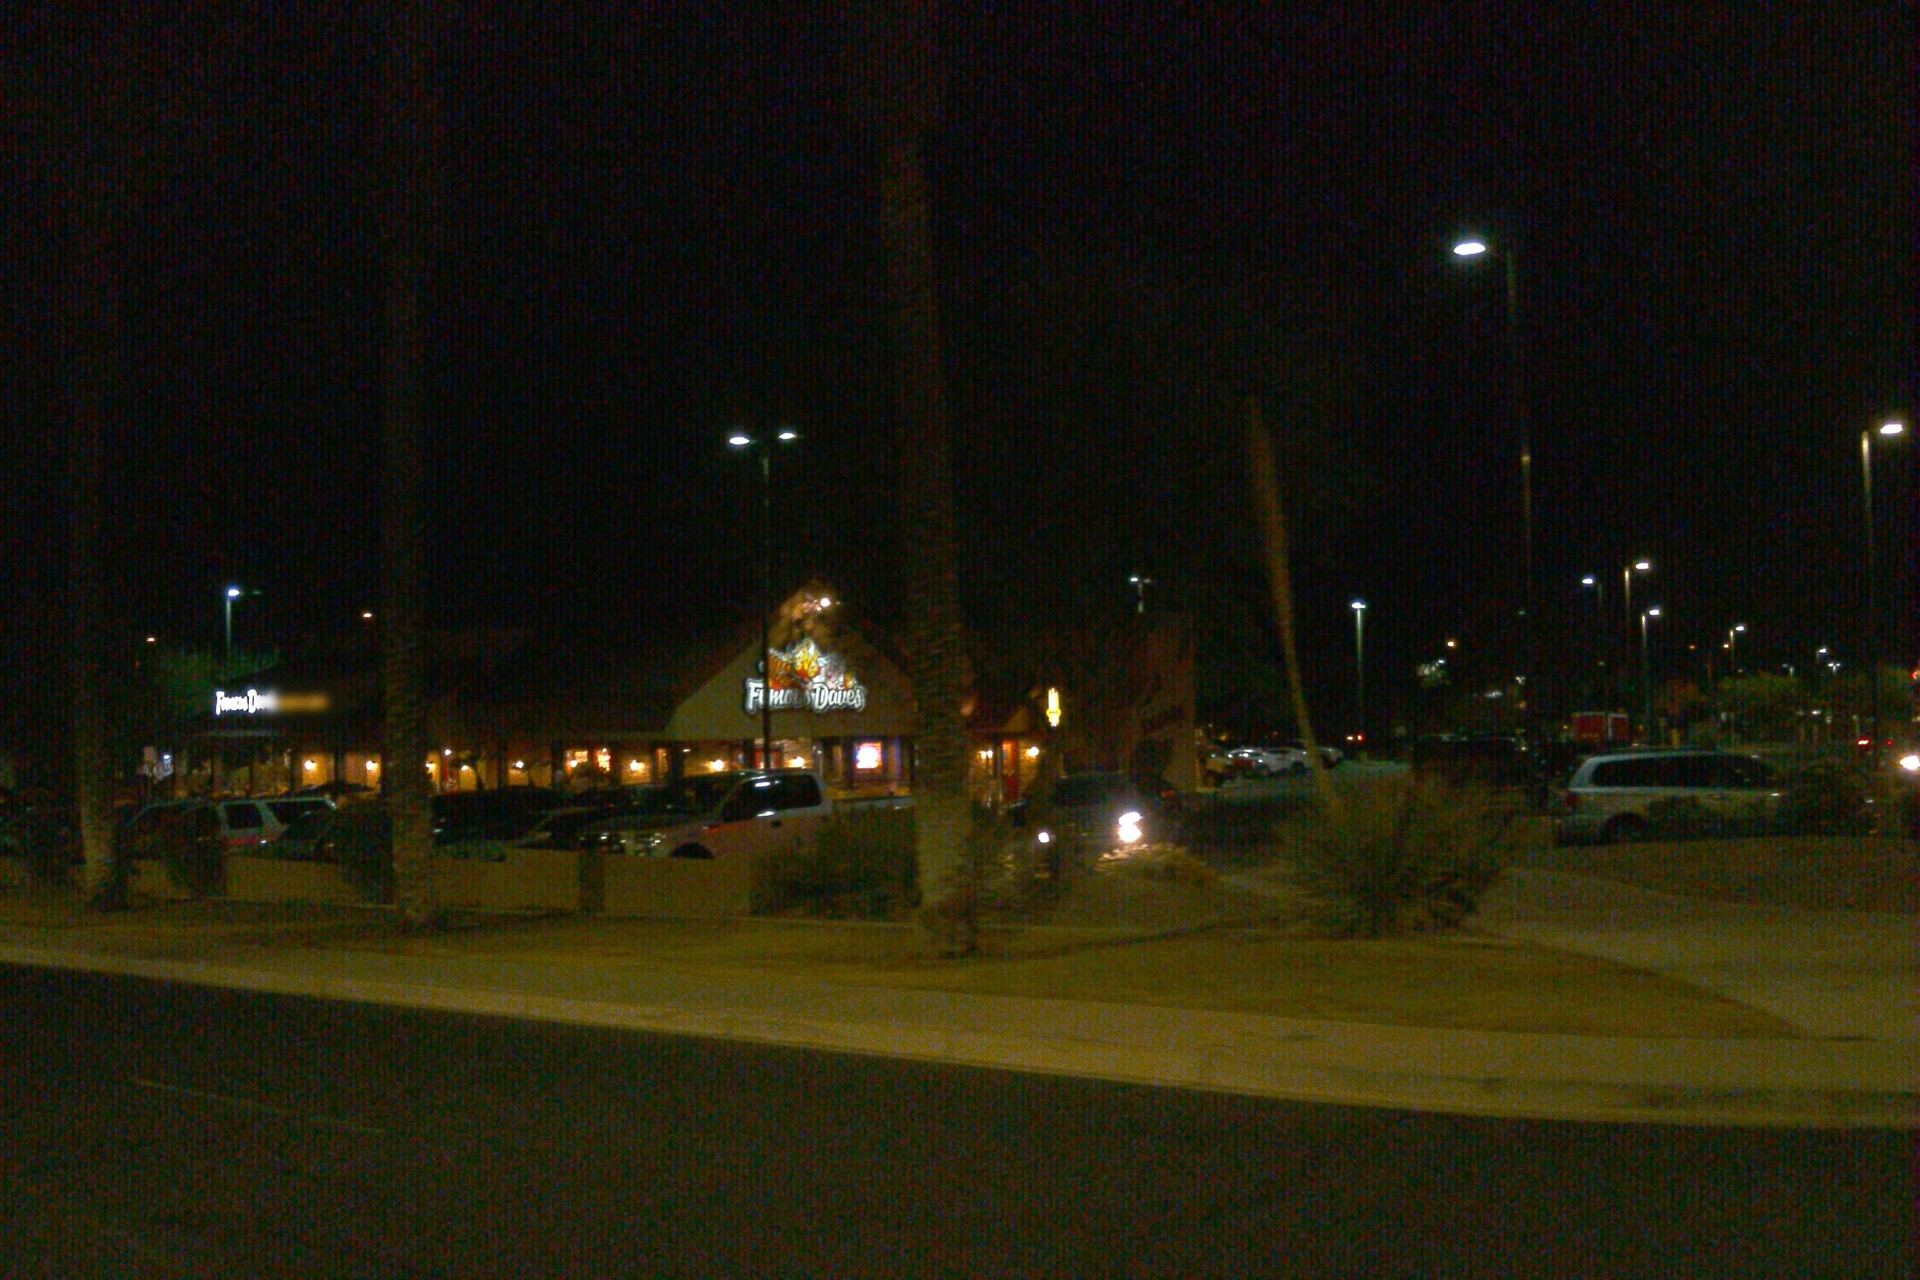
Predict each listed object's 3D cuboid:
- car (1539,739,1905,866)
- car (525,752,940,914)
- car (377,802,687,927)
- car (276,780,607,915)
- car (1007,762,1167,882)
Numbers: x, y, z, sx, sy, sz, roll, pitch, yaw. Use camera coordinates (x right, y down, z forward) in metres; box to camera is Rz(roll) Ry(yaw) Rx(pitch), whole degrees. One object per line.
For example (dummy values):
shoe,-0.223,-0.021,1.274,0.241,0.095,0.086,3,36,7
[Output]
car,12.331,2.603,34.101,5.359,1.850,2.529,-1,0,14
car,-3.261,2.761,31.100,2.516,1.860,6.040,-1,0,42
car,-7.148,3.706,35.012,4.626,1.600,2.218,0,0,-43
car,-9.160,3.604,37.027,2.440,1.880,5.176,-1,0,45
car,2.256,3.031,35.480,2.440,1.640,4.934,-1,0,7
